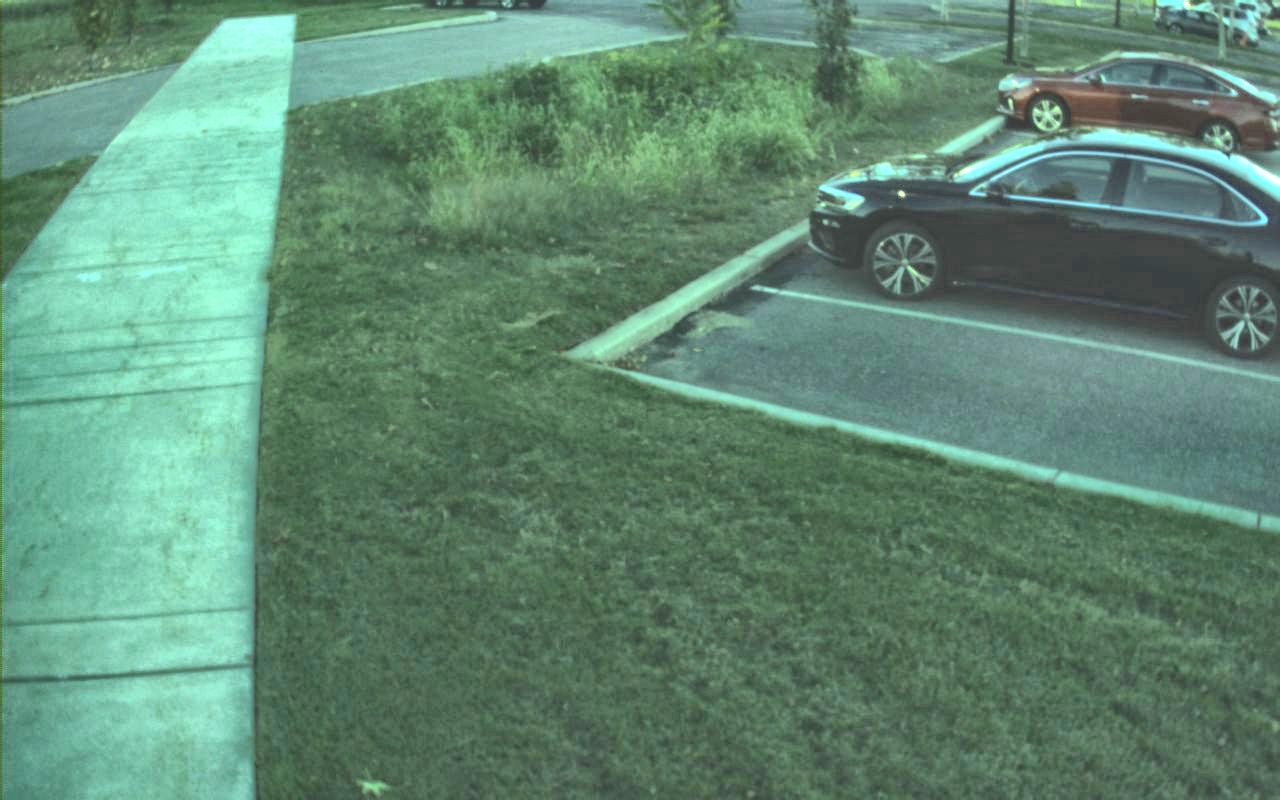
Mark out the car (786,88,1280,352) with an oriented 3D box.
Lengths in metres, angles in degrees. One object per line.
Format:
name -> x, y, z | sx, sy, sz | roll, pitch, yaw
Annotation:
car -> 3.518, -1.558, 9.490 | 4.388, 1.570, 1.938 | 7, 17, 25

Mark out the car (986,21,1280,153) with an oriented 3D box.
car -> 7.998, -4.969, 18.229 | 4.924, 1.657, 2.058 | 8, 18, 28
